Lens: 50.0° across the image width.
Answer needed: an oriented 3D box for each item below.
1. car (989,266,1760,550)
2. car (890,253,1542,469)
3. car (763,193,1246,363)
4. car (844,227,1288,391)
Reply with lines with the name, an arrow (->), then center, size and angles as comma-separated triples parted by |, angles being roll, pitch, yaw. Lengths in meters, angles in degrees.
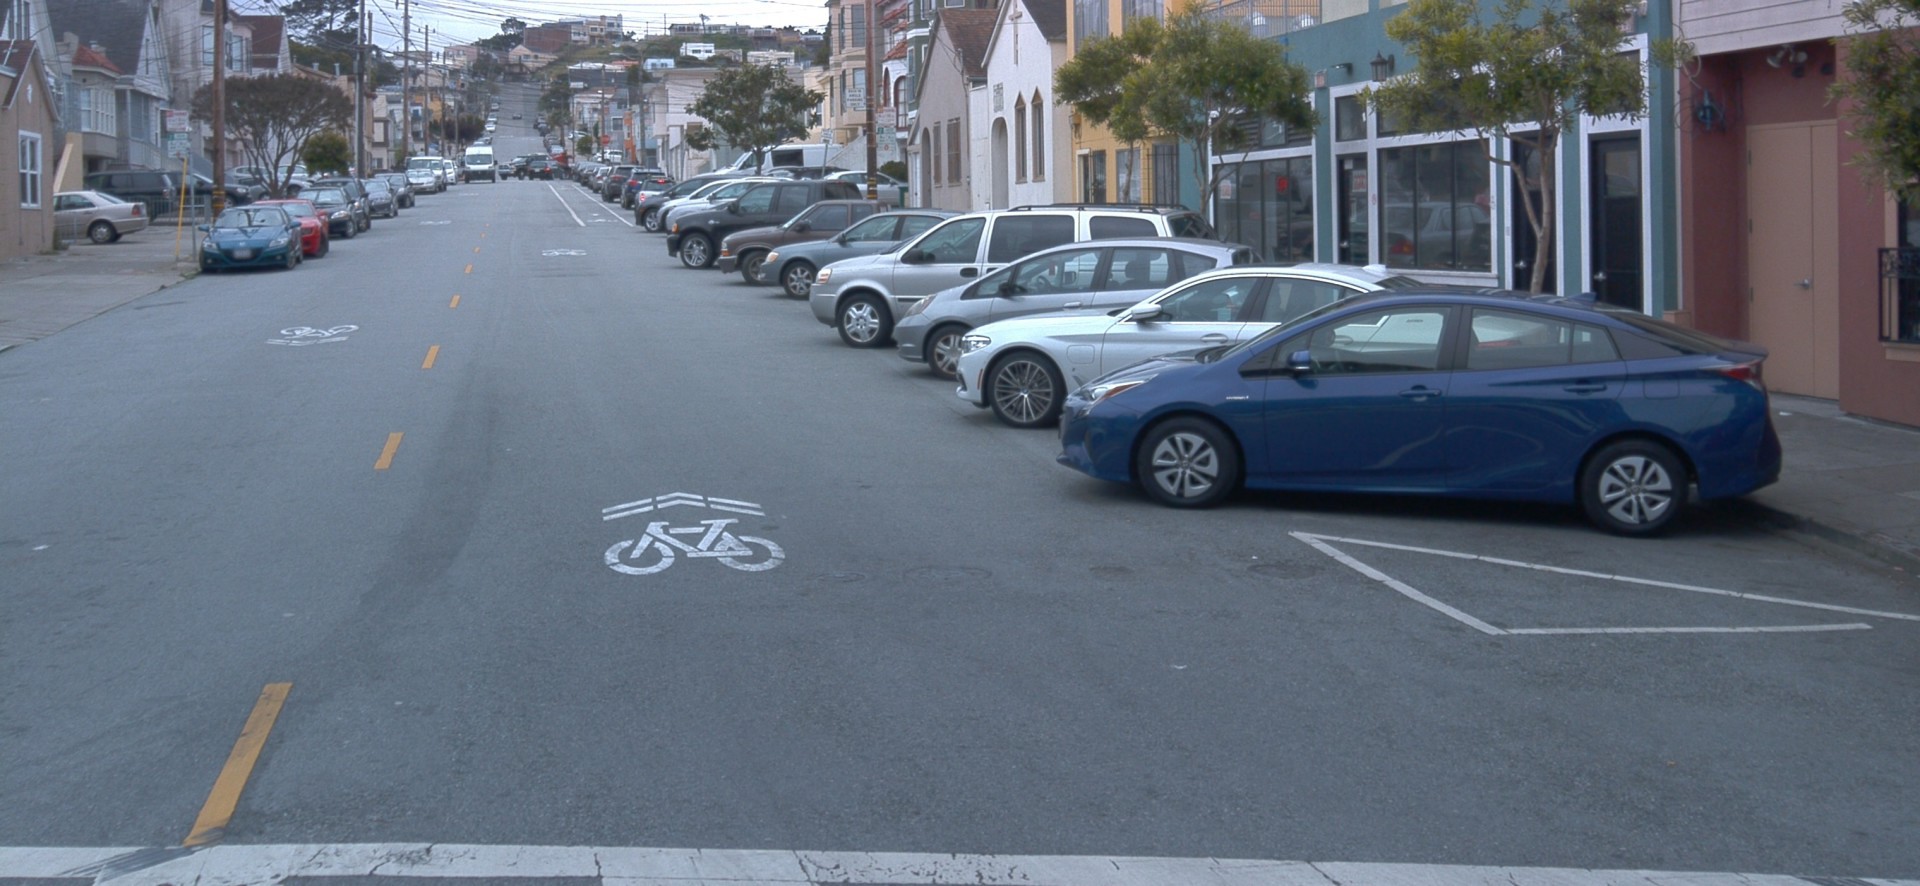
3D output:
car -> 2.705, -0.344, 13.796 | 4.679, 1.625, 2.181 | 1, 4, 13
car -> 2.175, -0.803, 17.520 | 5.120, 1.575, 2.163 | 2, 5, 23
car -> 0.516, -2.057, 24.926 | 5.408, 1.864, 2.269 | 3, 5, 27
car -> 1.119, -1.471, 21.541 | 4.210, 1.575, 2.028 | 2, 5, 23
